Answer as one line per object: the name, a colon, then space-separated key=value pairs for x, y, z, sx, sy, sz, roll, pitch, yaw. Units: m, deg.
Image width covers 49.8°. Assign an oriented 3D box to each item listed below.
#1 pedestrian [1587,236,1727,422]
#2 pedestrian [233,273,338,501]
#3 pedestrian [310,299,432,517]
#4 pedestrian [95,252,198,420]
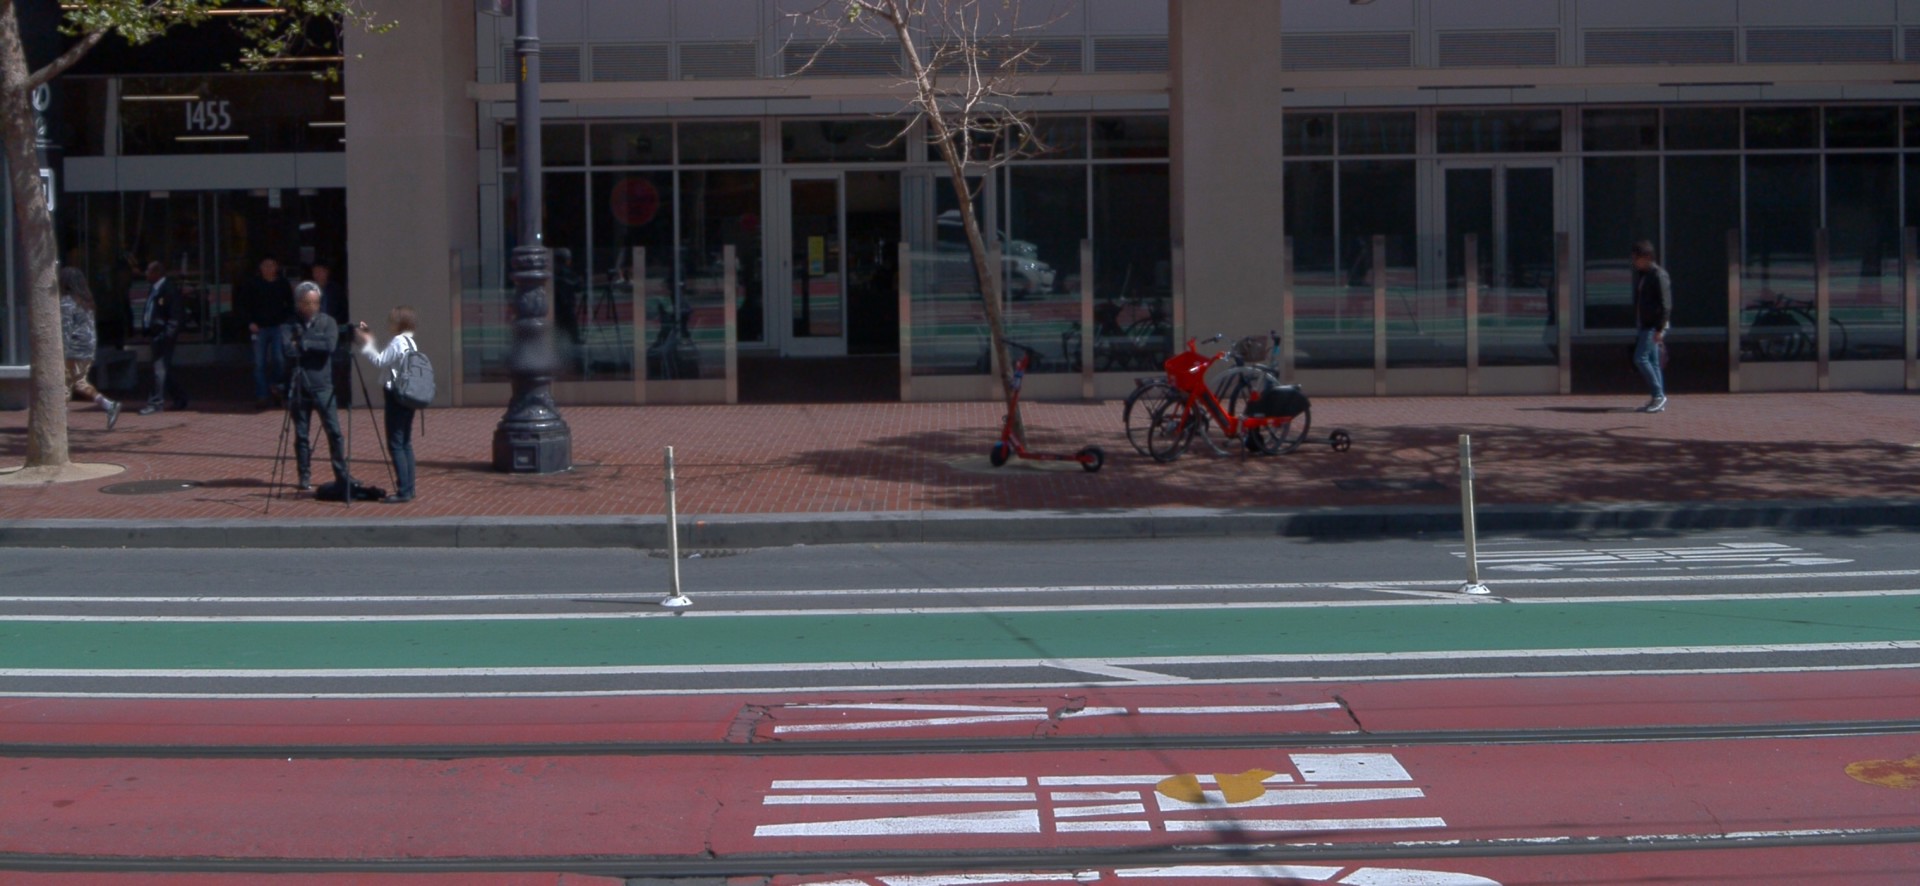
pedestrian: x=7.503 y=-1.248 z=22.280 sx=1.195 sy=1.946 sz=0.855 roll=-1 pitch=2 yaw=-3
pedestrian: x=-5.812 y=-0.508 z=17.852 sx=0.759 sy=1.876 sz=0.809 roll=-1 pitch=2 yaw=-12
pedestrian: x=-4.888 y=-0.316 z=17.152 sx=0.672 sy=1.706 sz=0.818 roll=-2 pitch=3 yaw=-40
pedestrian: x=-9.350 y=-1.253 z=23.754 sx=0.816 sy=1.856 sz=0.800 roll=1 pitch=3 yaw=43
